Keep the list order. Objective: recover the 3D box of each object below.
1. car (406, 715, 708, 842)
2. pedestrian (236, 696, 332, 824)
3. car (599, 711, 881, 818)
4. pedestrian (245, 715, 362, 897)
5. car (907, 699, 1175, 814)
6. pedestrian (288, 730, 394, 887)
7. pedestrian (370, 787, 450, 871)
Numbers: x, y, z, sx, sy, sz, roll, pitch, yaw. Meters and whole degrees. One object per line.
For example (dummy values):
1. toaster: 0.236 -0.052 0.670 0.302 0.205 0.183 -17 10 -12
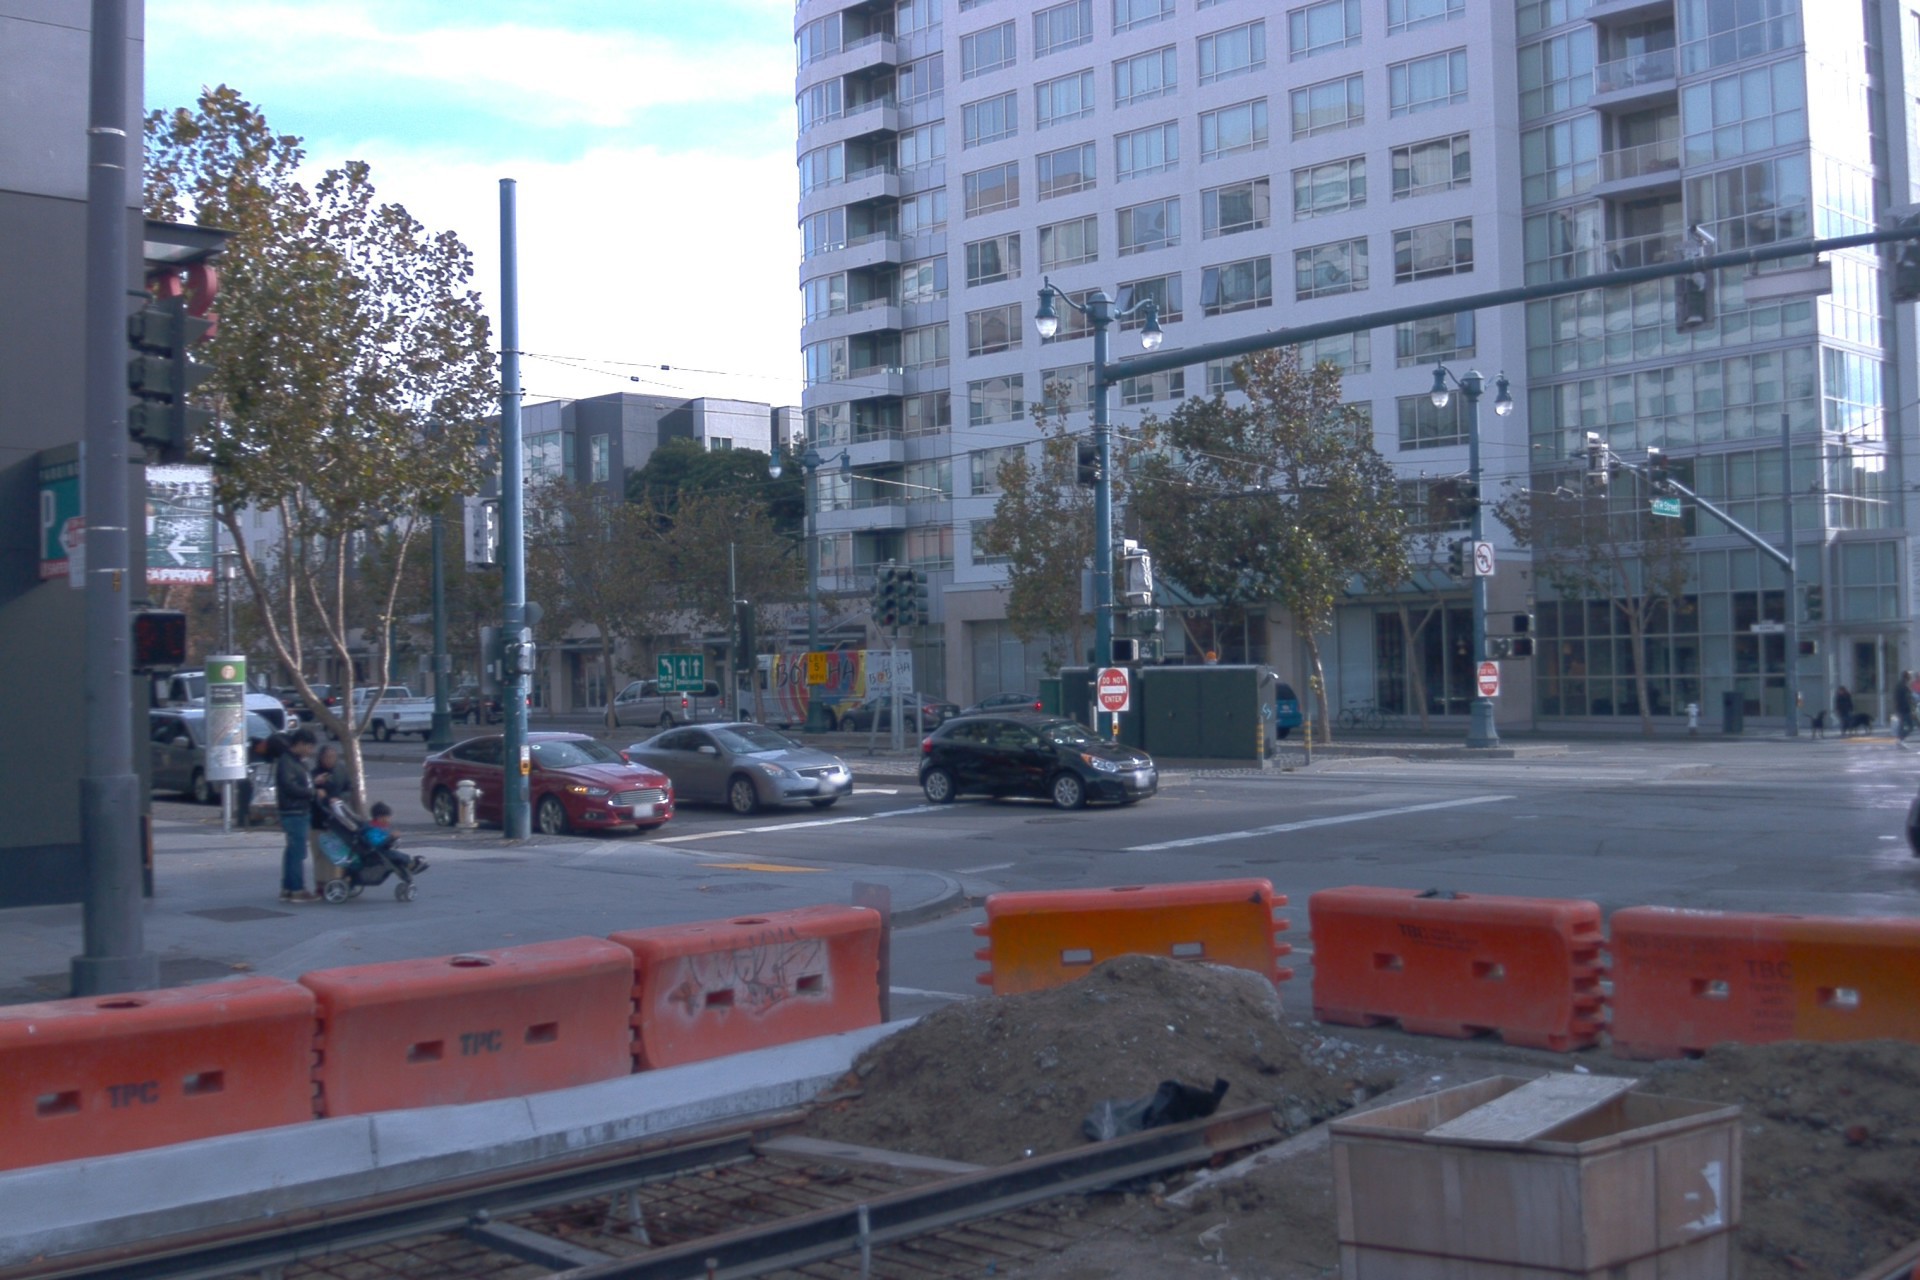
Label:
1. car: -6.129 2.004 31.236 2.114 1.605 4.851 1 -1 -44
2. pedestrian: -10.034 1.761 30.844 0.942 1.830 0.981 0 -1 39
3. car: -3.660 1.985 34.045 4.733 1.488 2.015 0 -1 44
4. pedestrian: -6.285 1.565 19.886 0.748 1.660 0.767 0 -1 38
5. car: 1.241 1.789 32.887 4.010 1.617 1.782 0 -1 41
6. pedestrian: -6.044 1.632 20.300 0.723 1.460 0.660 0 -1 29
7. pedestrian: -5.300 1.812 20.021 0.723 0.752 0.485 0 -1 -15
